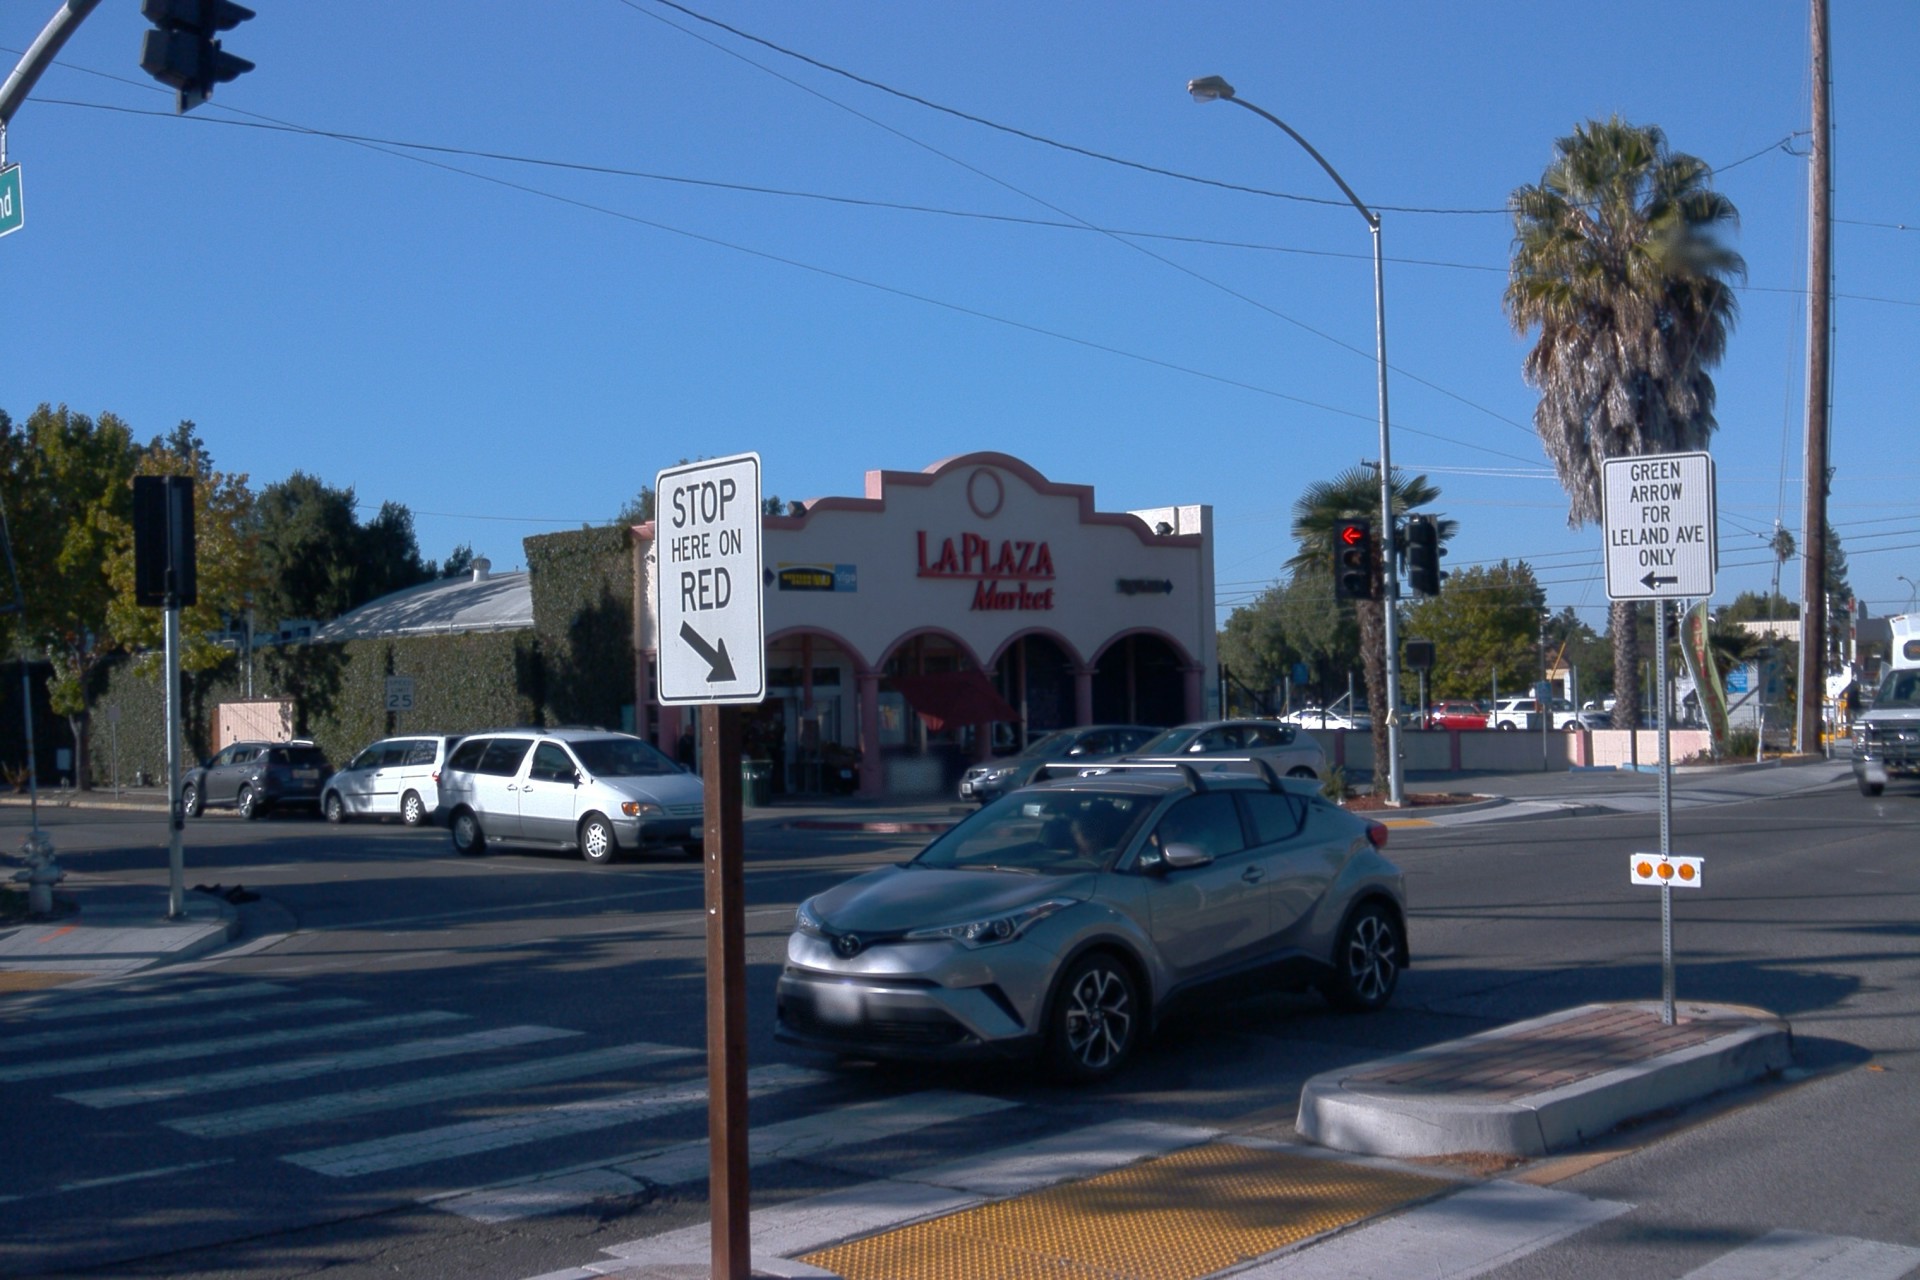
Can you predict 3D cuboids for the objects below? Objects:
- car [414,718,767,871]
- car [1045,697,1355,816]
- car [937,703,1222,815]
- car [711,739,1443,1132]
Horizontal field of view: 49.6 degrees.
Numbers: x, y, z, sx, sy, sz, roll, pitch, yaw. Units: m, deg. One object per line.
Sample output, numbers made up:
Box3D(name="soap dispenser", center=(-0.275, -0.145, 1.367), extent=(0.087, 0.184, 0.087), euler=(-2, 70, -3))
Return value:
Box3D(name="car", center=(-5.042, 1.978, 27.896), extent=(4.949, 1.710, 2.120), euler=(0, -1, 43))
Box3D(name="car", center=(3.922, 1.855, 34.000), extent=(4.646, 1.780, 2.014), euler=(0, 0, -23))
Box3D(name="car", center=(2.102, 2.026, 36.345), extent=(4.565, 1.760, 2.047), euler=(0, 0, -28))
Box3D(name="car", center=(0.853, 1.522, 12.211), extent=(2.030, 1.690, 4.327), euler=(0, -1, 42))
